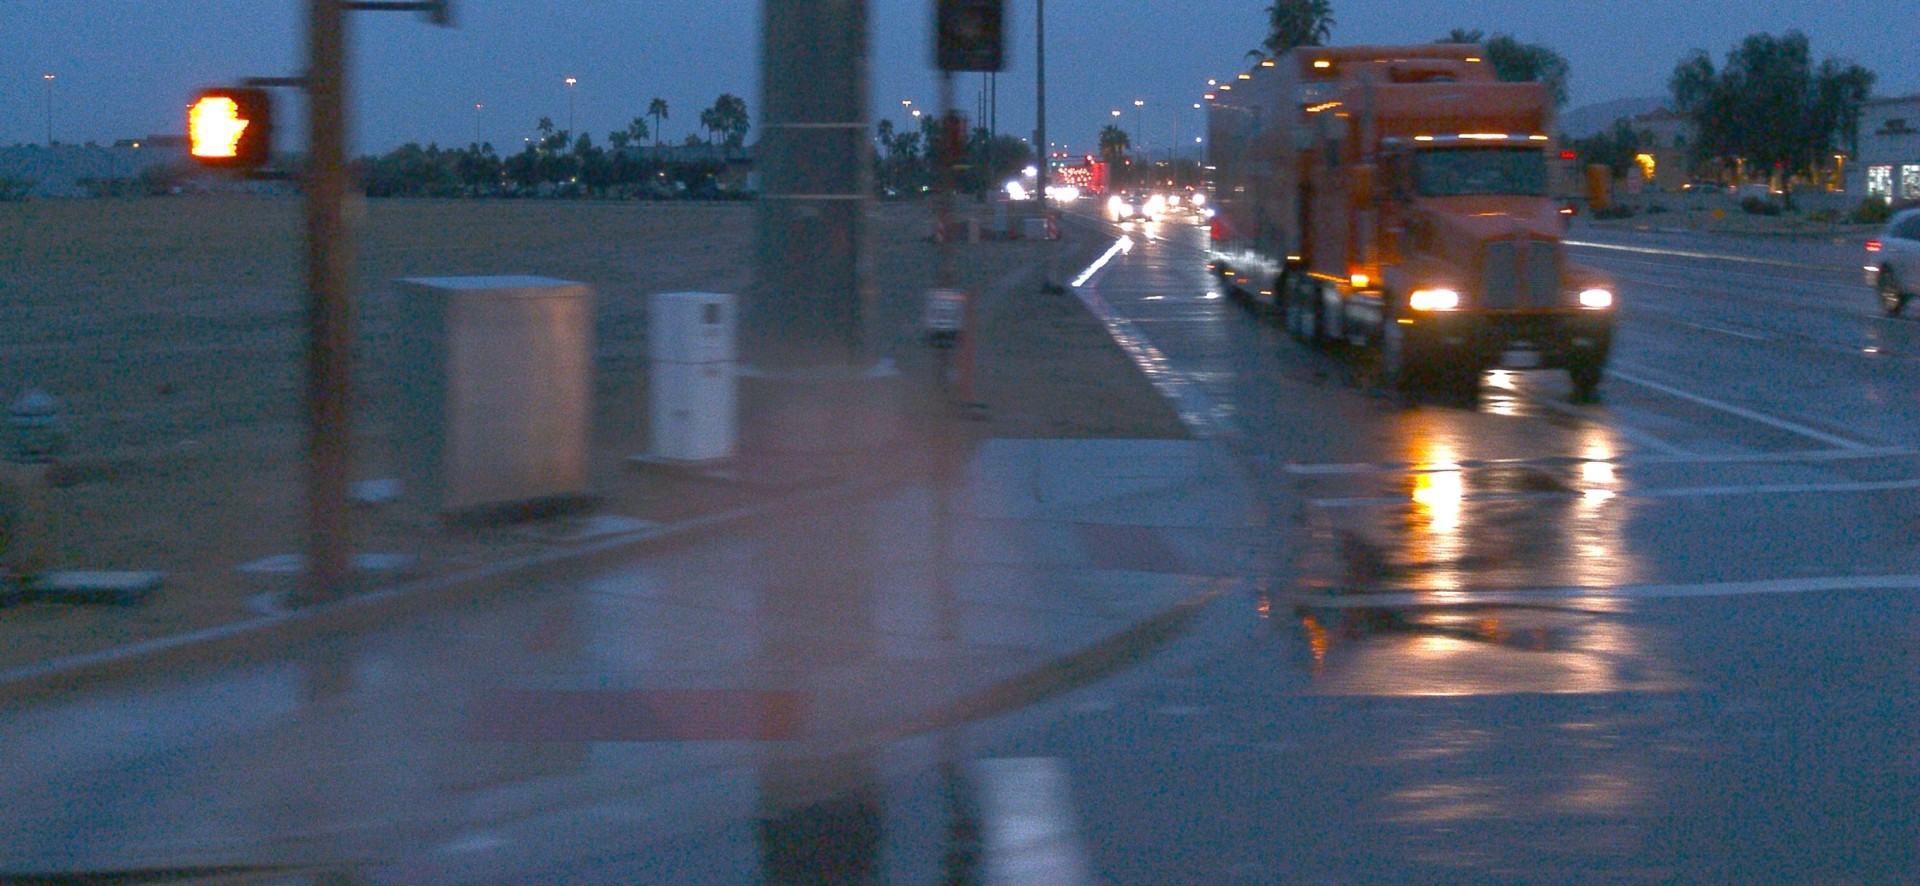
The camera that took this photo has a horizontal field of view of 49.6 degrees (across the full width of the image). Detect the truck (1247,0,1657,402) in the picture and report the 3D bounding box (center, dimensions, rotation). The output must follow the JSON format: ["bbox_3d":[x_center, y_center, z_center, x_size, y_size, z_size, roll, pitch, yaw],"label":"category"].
[{"bbox_3d":[5.618,-3.002,25.531,3.099,4.265,8.609,0,5,1],"label":"truck"}]

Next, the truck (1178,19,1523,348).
[{"bbox_3d":[6.042,-4.295,35.991,3.437,4.290,17.389,1,5,2],"label":"truck"}]
